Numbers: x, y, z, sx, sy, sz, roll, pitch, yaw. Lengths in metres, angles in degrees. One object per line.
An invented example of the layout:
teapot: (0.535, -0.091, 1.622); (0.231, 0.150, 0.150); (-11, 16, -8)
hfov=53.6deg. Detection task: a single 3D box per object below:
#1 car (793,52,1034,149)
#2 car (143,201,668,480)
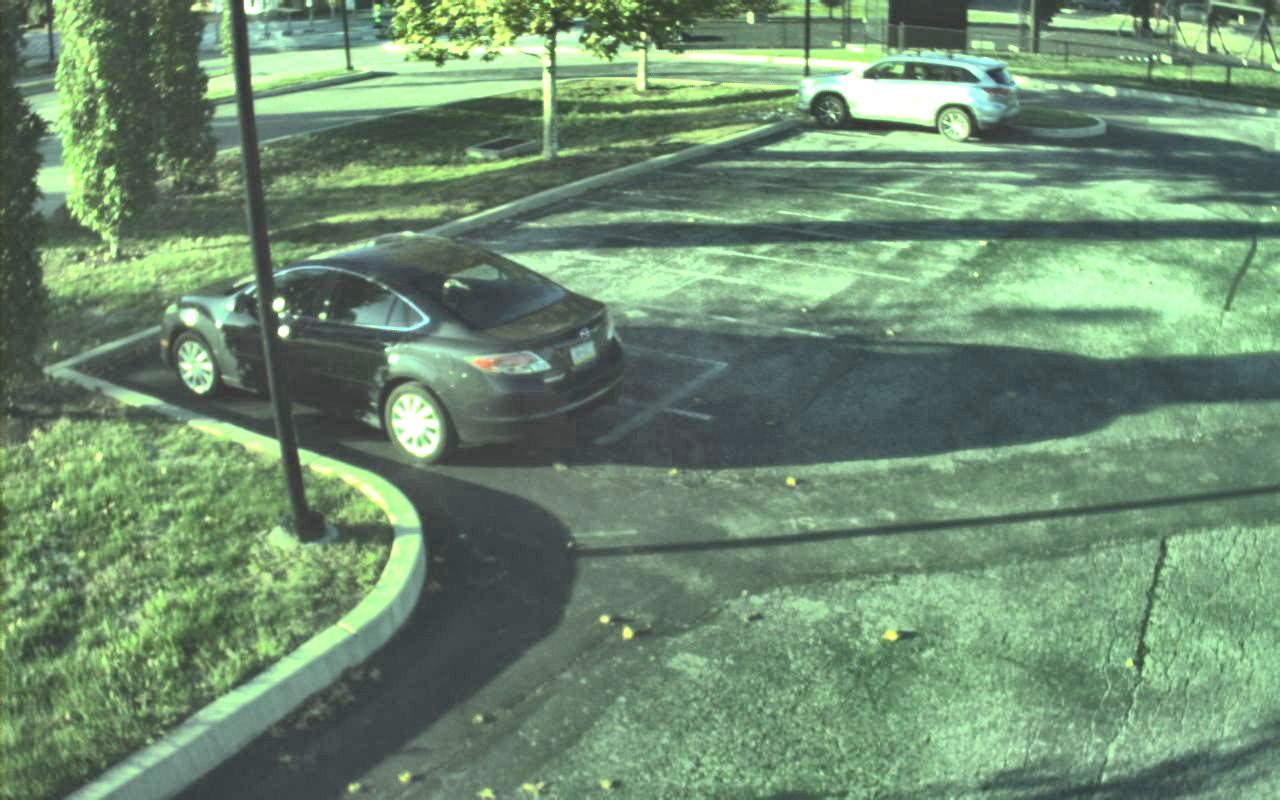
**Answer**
car: (5.874, -6.429, 25.941); (4.858, 1.850, 2.070); (8, 17, 28)
car: (-2.252, -0.743, 10.854); (4.612, 1.608, 1.988); (9, 18, 32)
